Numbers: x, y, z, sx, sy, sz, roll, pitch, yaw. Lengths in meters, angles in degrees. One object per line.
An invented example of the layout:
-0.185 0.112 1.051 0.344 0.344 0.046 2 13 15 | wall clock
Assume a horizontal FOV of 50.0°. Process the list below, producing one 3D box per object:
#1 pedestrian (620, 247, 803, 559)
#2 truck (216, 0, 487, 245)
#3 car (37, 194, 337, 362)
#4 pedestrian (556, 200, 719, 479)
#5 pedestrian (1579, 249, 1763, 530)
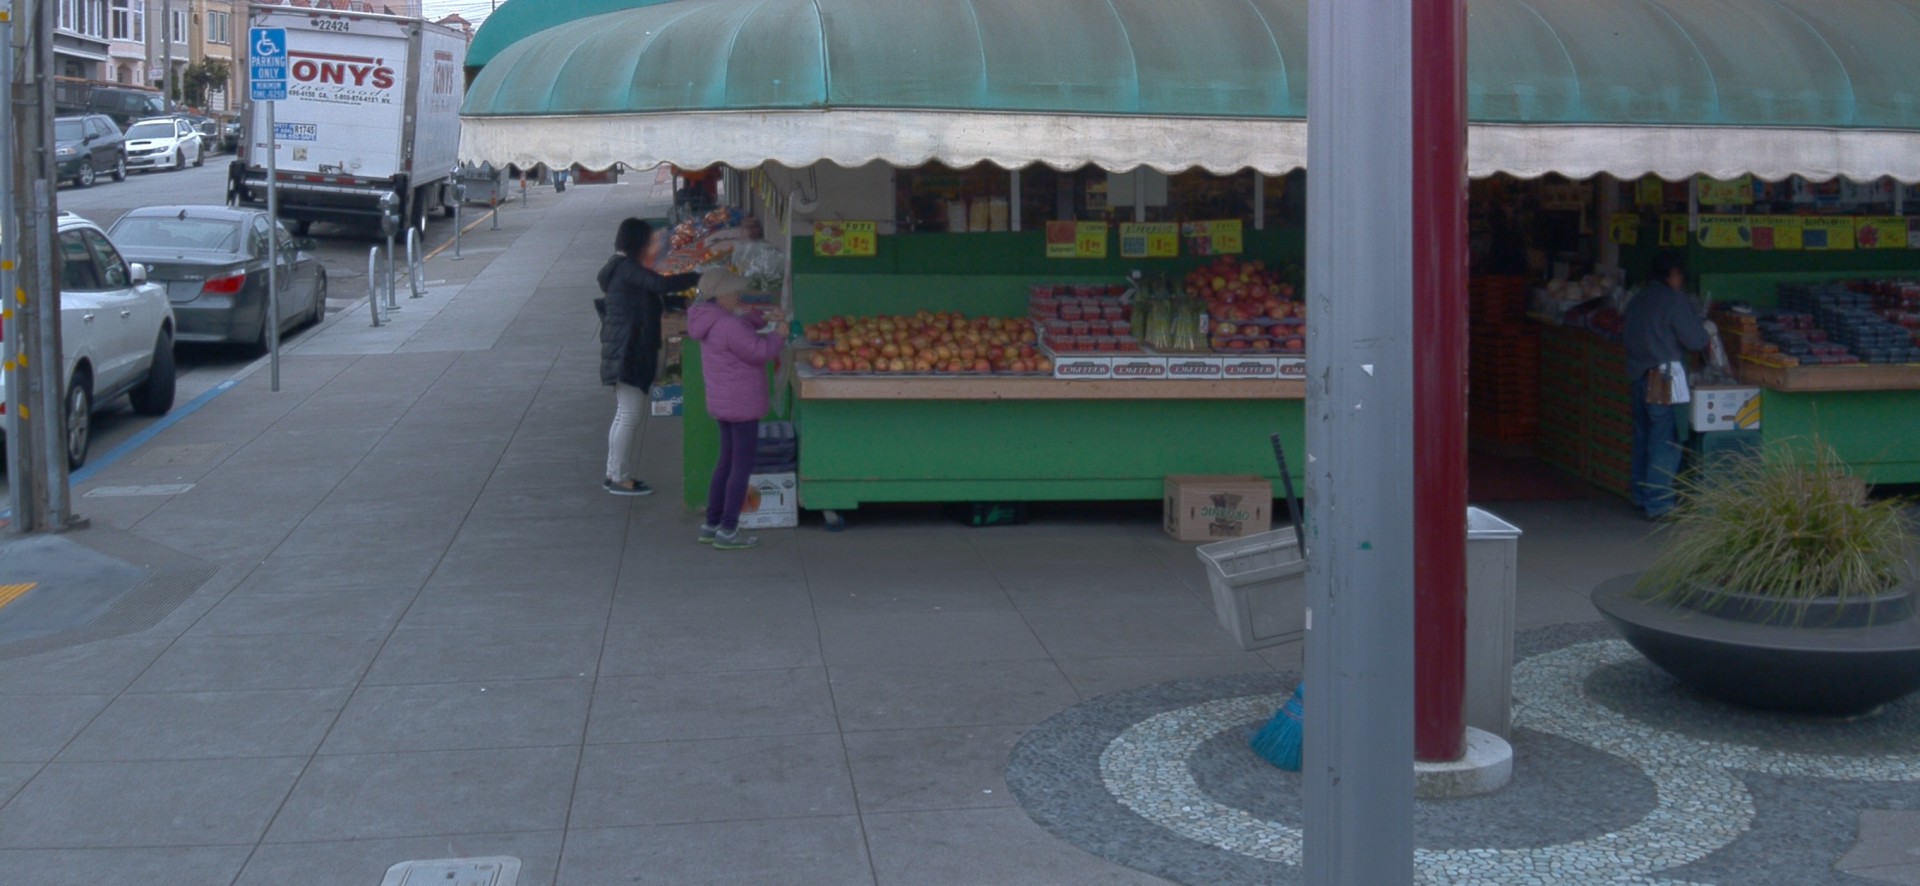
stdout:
-1.298 -0.244 10.858 0.704 1.564 0.799 1 2 15 | pedestrian
-10.222 -5.389 35.725 2.914 3.771 10.114 0 5 -7 | truck
-7.701 -1.744 20.979 1.969 1.513 4.609 -1 6 -9 | car
-1.953 -0.652 12.406 0.796 1.607 0.823 -1 2 -23 | pedestrian
4.087 -0.335 11.873 0.743 1.557 0.755 0 2 -6 | pedestrian
